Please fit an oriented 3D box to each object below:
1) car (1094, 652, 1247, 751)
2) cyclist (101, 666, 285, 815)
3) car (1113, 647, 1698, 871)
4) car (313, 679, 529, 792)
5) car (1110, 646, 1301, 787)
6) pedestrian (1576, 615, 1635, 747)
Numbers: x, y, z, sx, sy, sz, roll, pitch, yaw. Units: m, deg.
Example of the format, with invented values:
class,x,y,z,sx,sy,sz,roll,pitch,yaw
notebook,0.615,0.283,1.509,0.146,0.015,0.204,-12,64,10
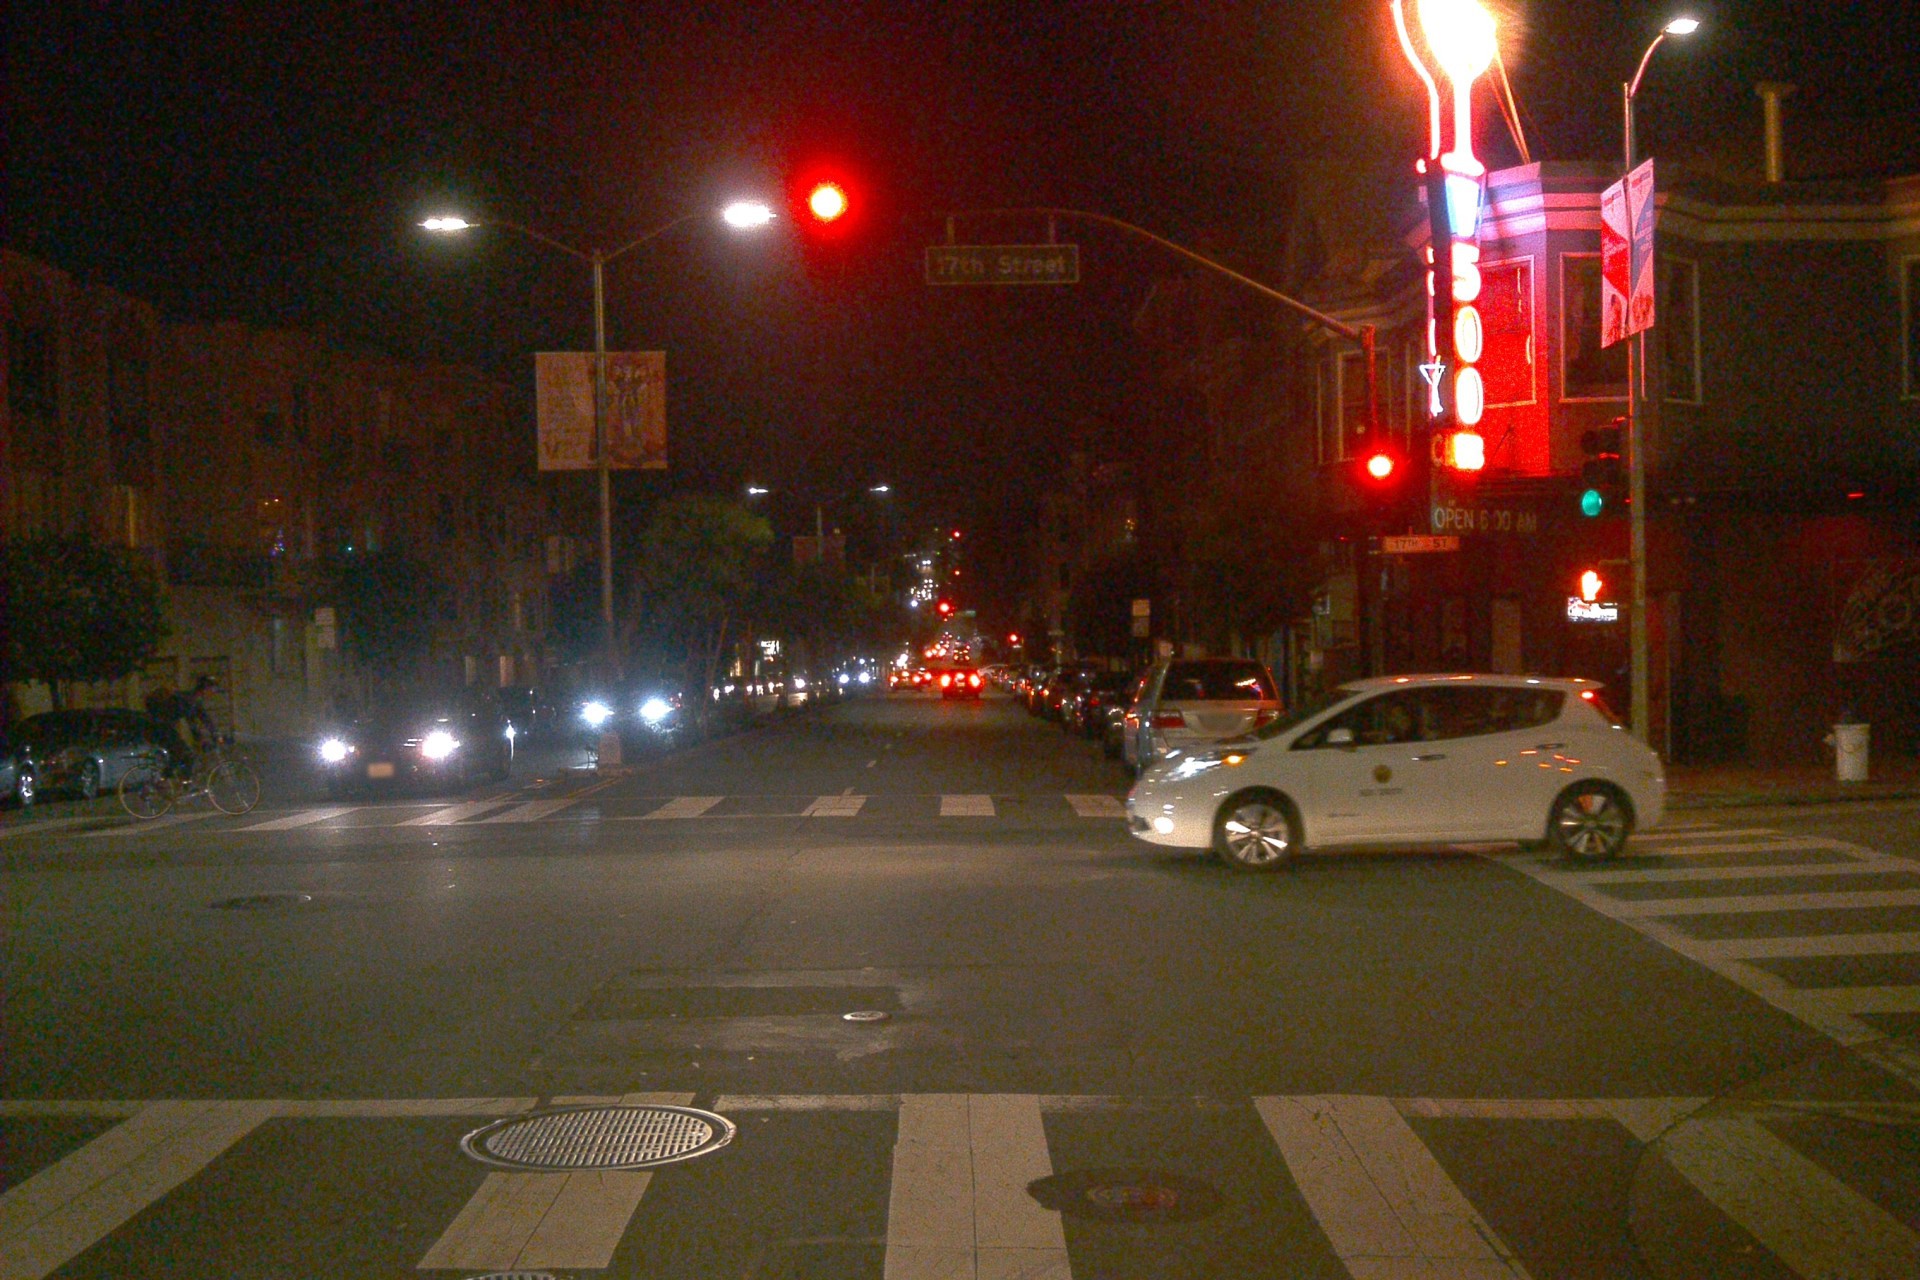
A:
class,x,y,z,sx,sy,sz,roll,pitch,yaw
car,3.327,0.949,33.318,1.810,1.470,4.216,1,0,-3
cyclist,-9.332,1.215,25.075,1.915,1.760,0.823,1,0,0
car,3.598,0.947,17.212,4.443,1.720,1.937,1,0,-1
car,-7.617,1.308,29.524,1.903,1.390,4.511,1,0,0
car,3.293,0.979,28.480,2.087,1.770,4.655,1,0,0
pedestrian,9.055,0.563,28.840,0.739,1.820,0.628,1,0,20
